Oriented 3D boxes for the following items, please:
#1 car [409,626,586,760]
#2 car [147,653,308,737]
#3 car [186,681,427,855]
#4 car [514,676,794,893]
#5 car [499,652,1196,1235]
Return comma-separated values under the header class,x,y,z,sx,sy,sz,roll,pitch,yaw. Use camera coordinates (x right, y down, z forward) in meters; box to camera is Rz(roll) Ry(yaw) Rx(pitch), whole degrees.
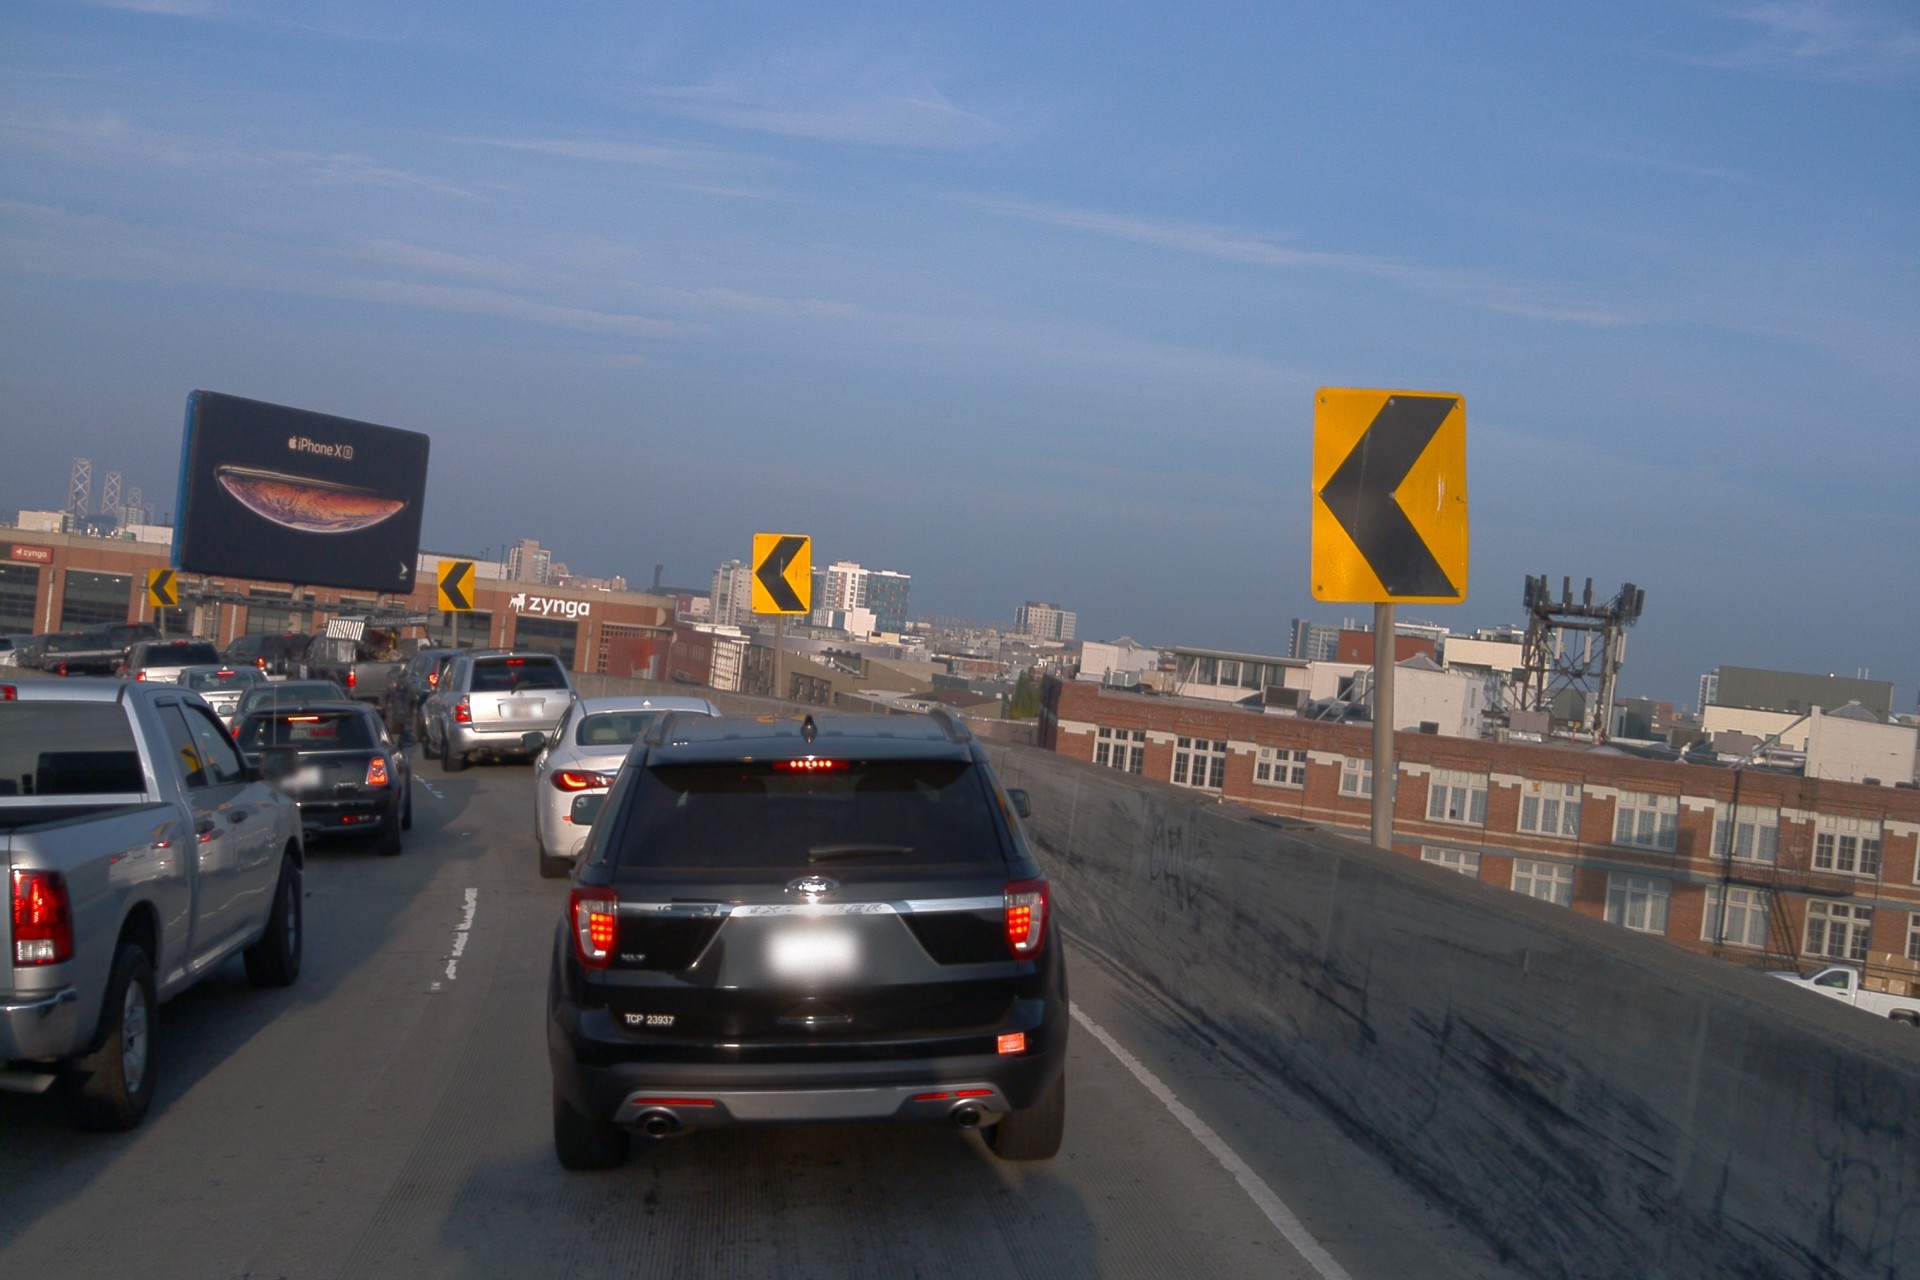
class,x,y,z,sx,sy,sz,roll,pitch,yaw
car,-6.932,0.722,30.434,1.992,1.820,4.394,0,0,-20
car,-12.895,0.911,35.954,2.005,1.310,4.887,0,0,-28
car,-6.265,1.156,20.082,1.934,1.411,4.084,0,0,-13
car,-2.890,1.176,18.487,2.143,1.590,4.510,0,0,-13
car,-0.673,1.009,9.287,2.327,1.850,4.877,0,0,-8
